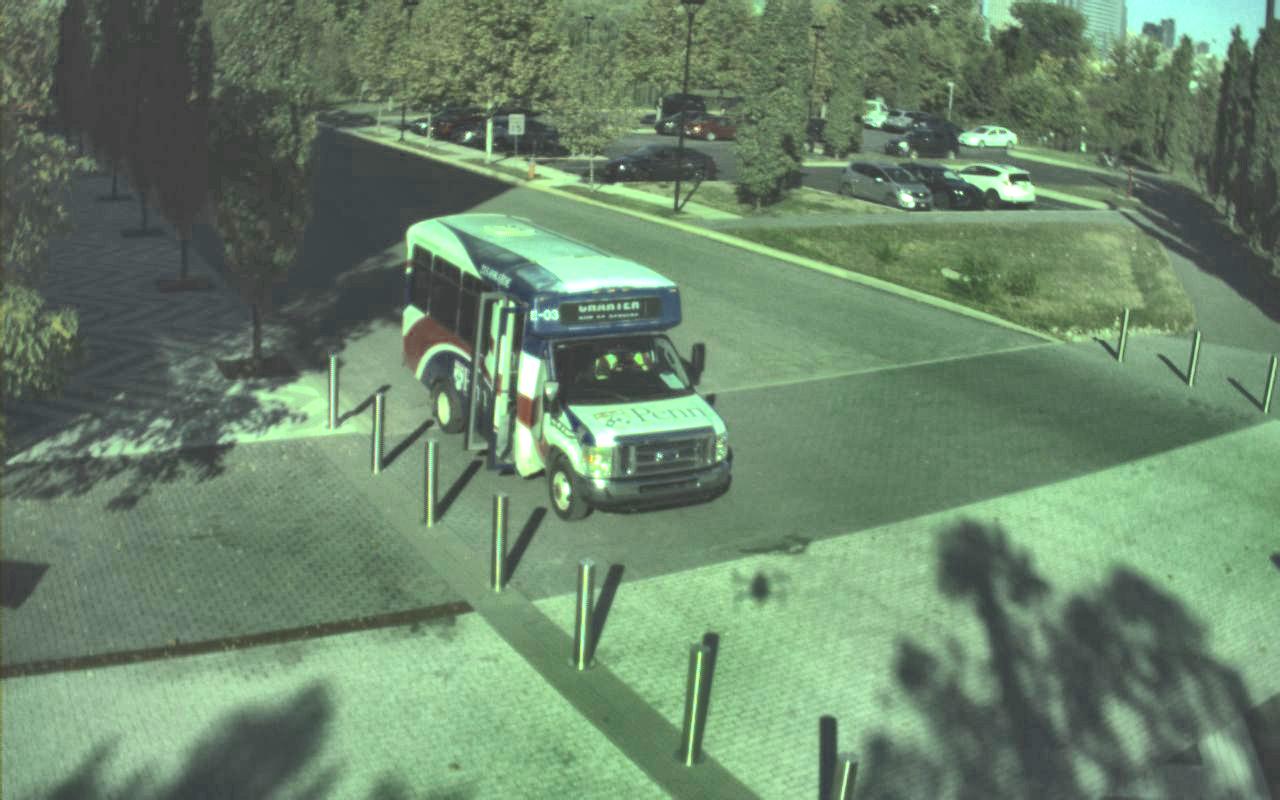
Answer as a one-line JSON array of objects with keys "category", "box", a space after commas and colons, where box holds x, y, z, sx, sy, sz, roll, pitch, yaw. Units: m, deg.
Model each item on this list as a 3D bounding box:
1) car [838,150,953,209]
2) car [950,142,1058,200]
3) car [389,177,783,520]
[{"category": "car", "box": [9.348, -8.147, 45.443, 1.950, 1.596, 4.469, -9, 18, -25]}, {"category": "car", "box": [14.270, -9.024, 47.612, 2.015, 1.718, 4.657, -7, 18, -19]}, {"category": "car", "box": [-1.071, -1.118, 16.934, 2.620, 2.927, 6.721, -9, 19, -27]}]
